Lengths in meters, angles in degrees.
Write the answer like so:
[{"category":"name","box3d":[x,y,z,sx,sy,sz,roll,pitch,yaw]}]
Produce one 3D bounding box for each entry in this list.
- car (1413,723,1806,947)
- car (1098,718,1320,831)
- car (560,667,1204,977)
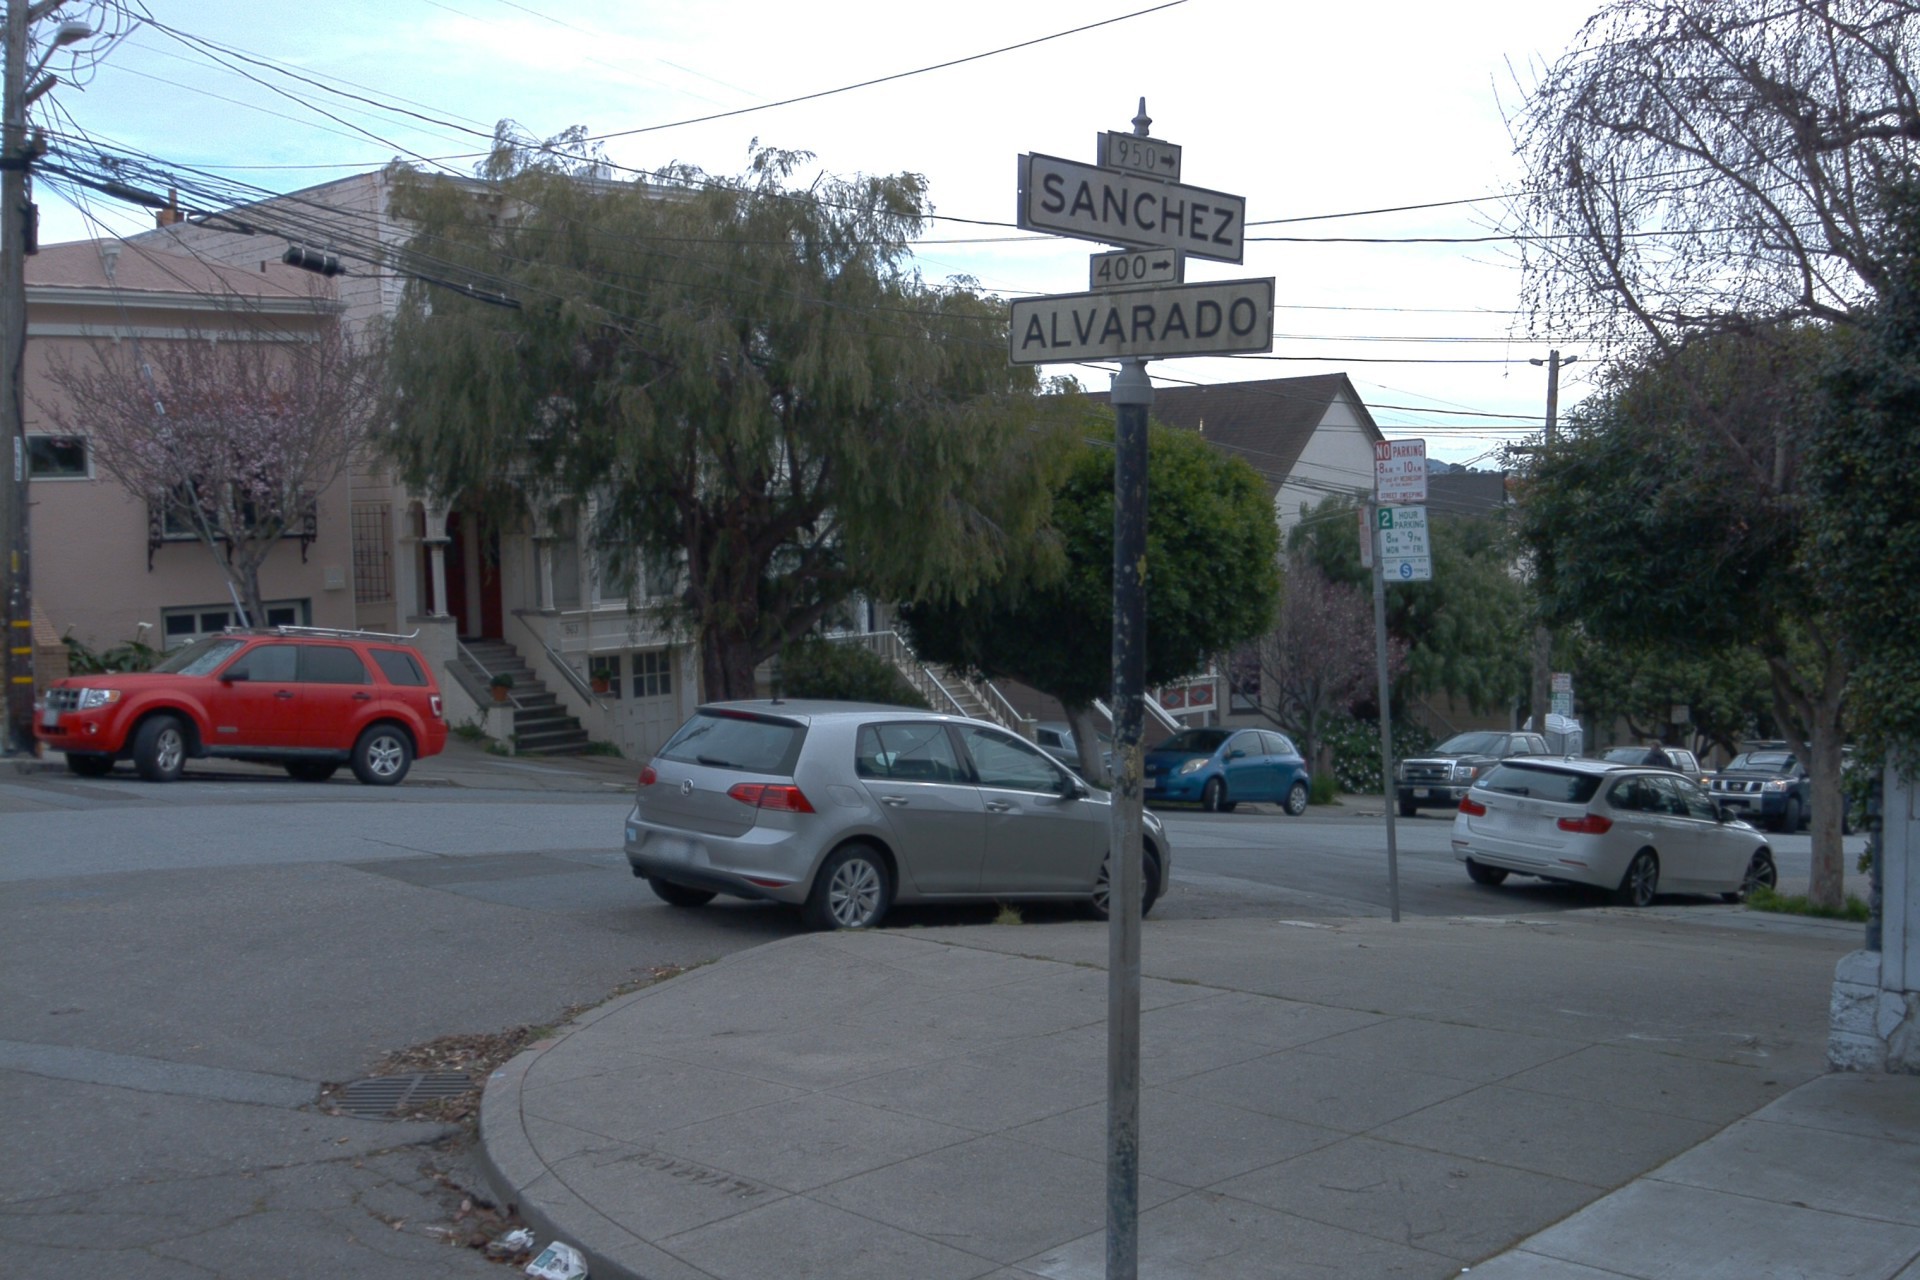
[{"category":"car","box3d":[6.931,1.926,21.534,1.975,1.910,4.684,2,1,45]},{"category":"car","box3d":[4.355,2.273,35.435,1.954,1.685,3.776,2,1,42]},{"category":"car","box3d":[-0.410,1.080,14.024,2.126,1.720,4.090,2,1,42]}]
